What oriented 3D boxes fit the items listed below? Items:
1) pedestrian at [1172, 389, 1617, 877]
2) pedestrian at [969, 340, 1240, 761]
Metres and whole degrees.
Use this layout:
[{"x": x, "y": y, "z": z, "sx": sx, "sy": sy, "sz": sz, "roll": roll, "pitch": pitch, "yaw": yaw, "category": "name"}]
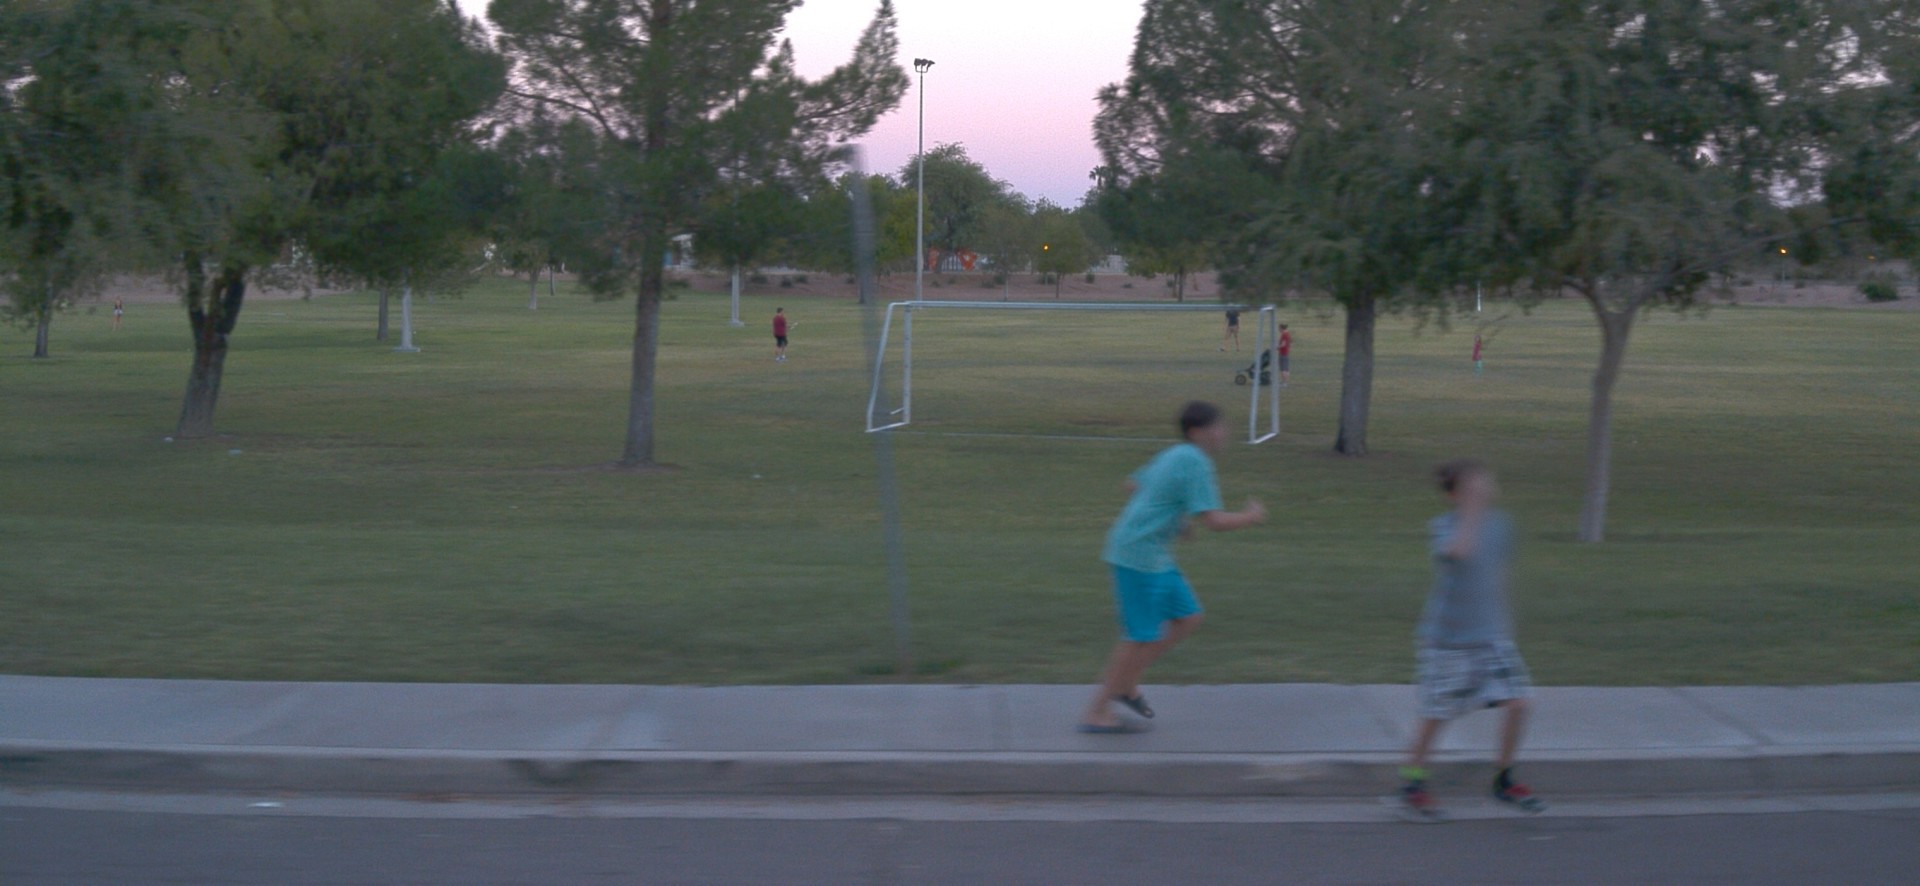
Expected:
[{"x": 1.661, "y": 0.639, "z": 8.049, "sx": 1.100, "sy": 1.557, "sz": 1.280, "roll": -2, "pitch": 3, "yaw": -35, "category": "pedestrian"}, {"x": 0.600, "y": 0.421, "z": 9.079, "sx": 1.114, "sy": 1.678, "sz": 0.998, "roll": 0, "pitch": 2, "yaw": 0, "category": "pedestrian"}]
